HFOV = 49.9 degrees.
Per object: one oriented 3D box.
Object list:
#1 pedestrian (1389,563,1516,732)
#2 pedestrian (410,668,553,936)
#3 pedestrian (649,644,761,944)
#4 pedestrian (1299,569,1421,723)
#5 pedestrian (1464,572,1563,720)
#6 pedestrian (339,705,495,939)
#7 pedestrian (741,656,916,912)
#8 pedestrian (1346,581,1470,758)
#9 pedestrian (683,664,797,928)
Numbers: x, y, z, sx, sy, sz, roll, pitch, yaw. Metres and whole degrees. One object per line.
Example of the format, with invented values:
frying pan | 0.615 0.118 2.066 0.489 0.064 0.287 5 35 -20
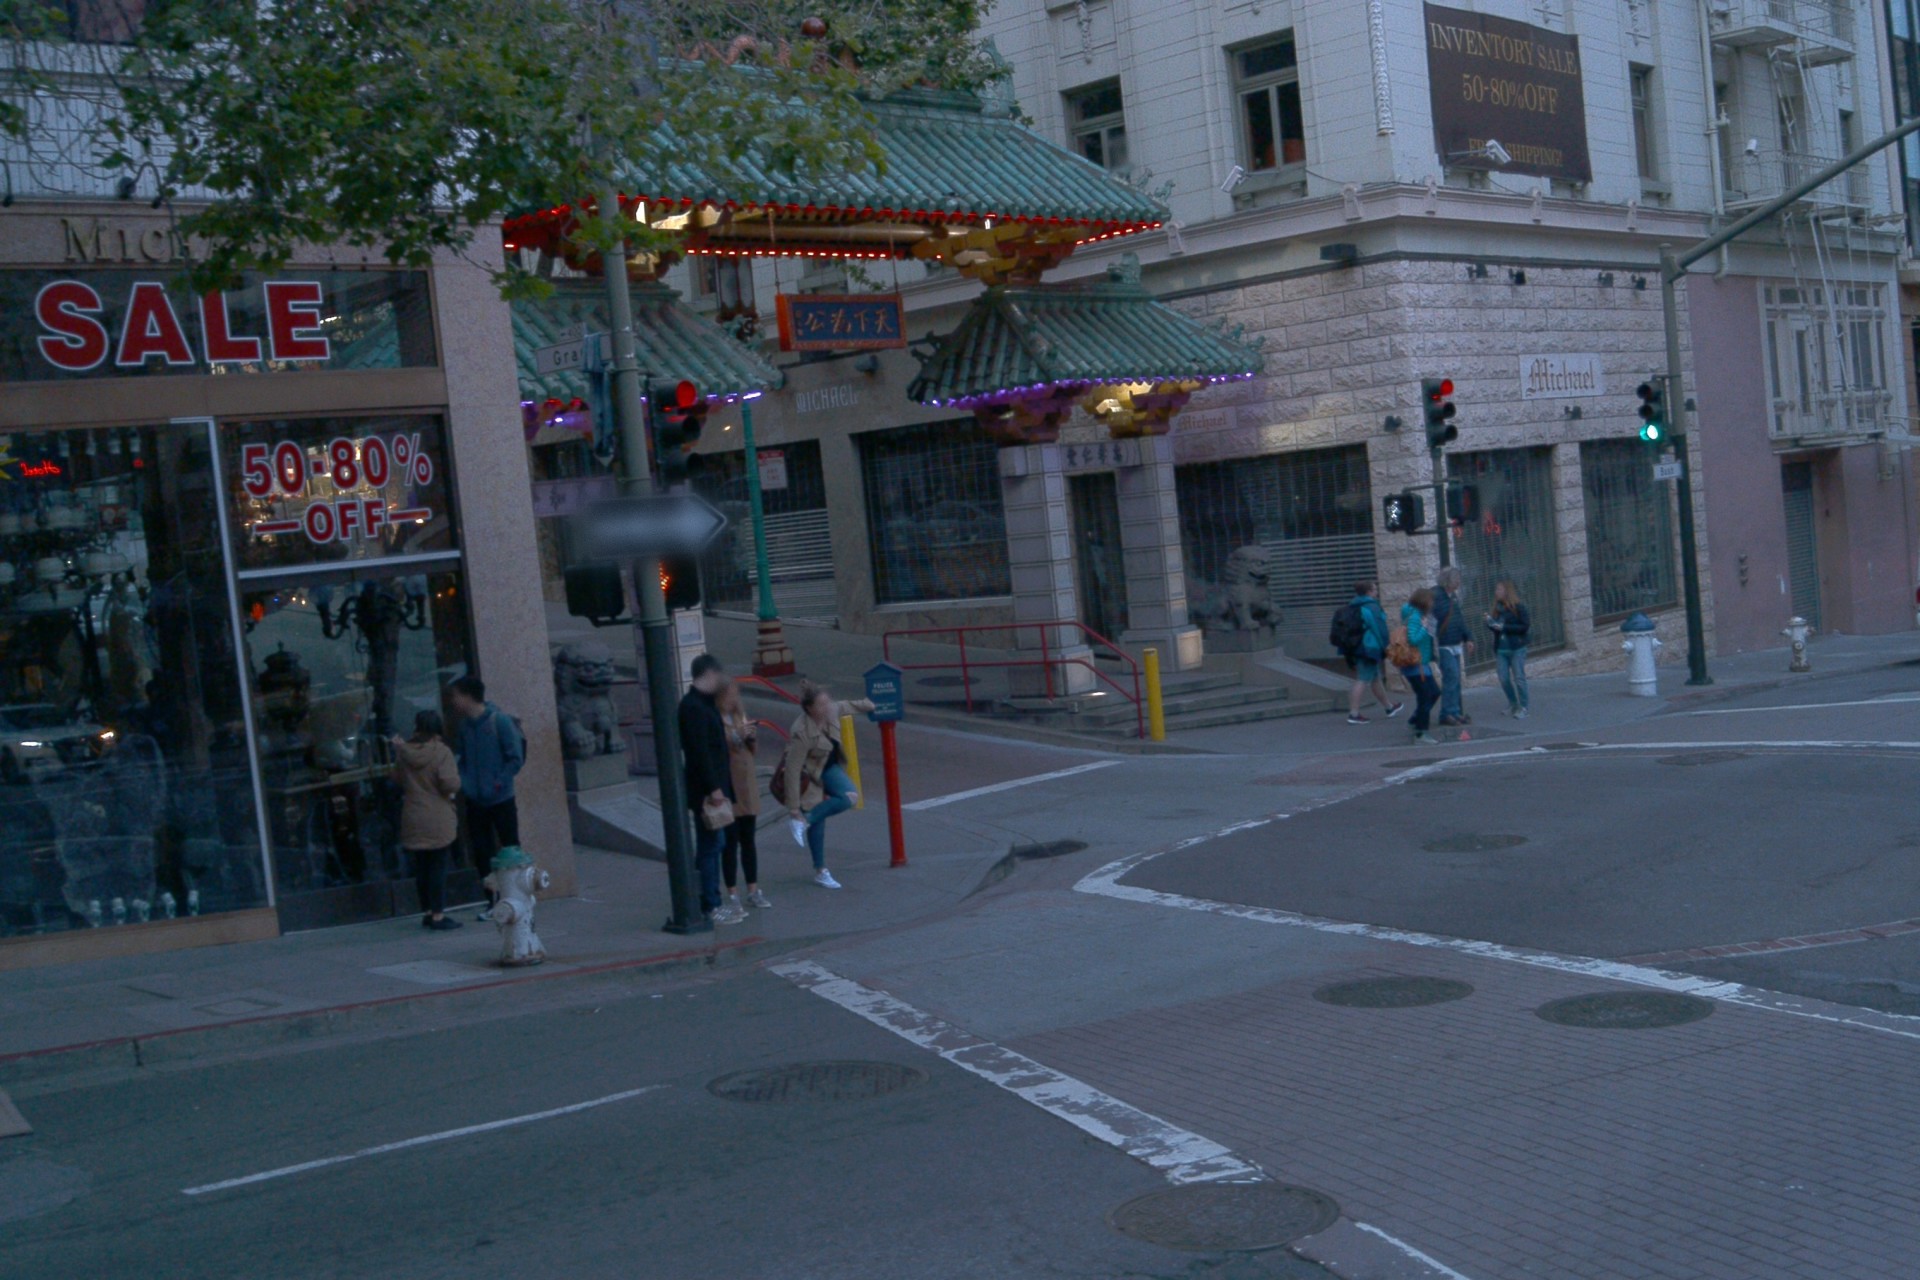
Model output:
pedestrian | 5.444 0.072 22.827 0.964 1.820 1.000 -1 1 -41
pedestrian | -3.518 1.160 15.187 0.716 1.880 0.724 0 1 31
pedestrian | -1.811 1.070 14.693 0.546 2.070 0.609 0 1 24
pedestrian | 4.598 0.057 23.707 0.989 1.710 0.971 -1 1 -41
pedestrian | 6.363 0.062 23.732 0.822 1.660 0.750 -1 1 -33
pedestrian | -3.871 1.274 14.753 0.787 1.580 0.744 0 1 18
pedestrian | -1.018 1.076 16.043 0.817 1.880 1.093 1 1 42
pedestrian | 4.829 0.303 22.269 0.927 1.850 0.934 -1 1 -41
pedestrian | -1.619 1.124 15.223 0.531 1.880 0.638 0 1 39
